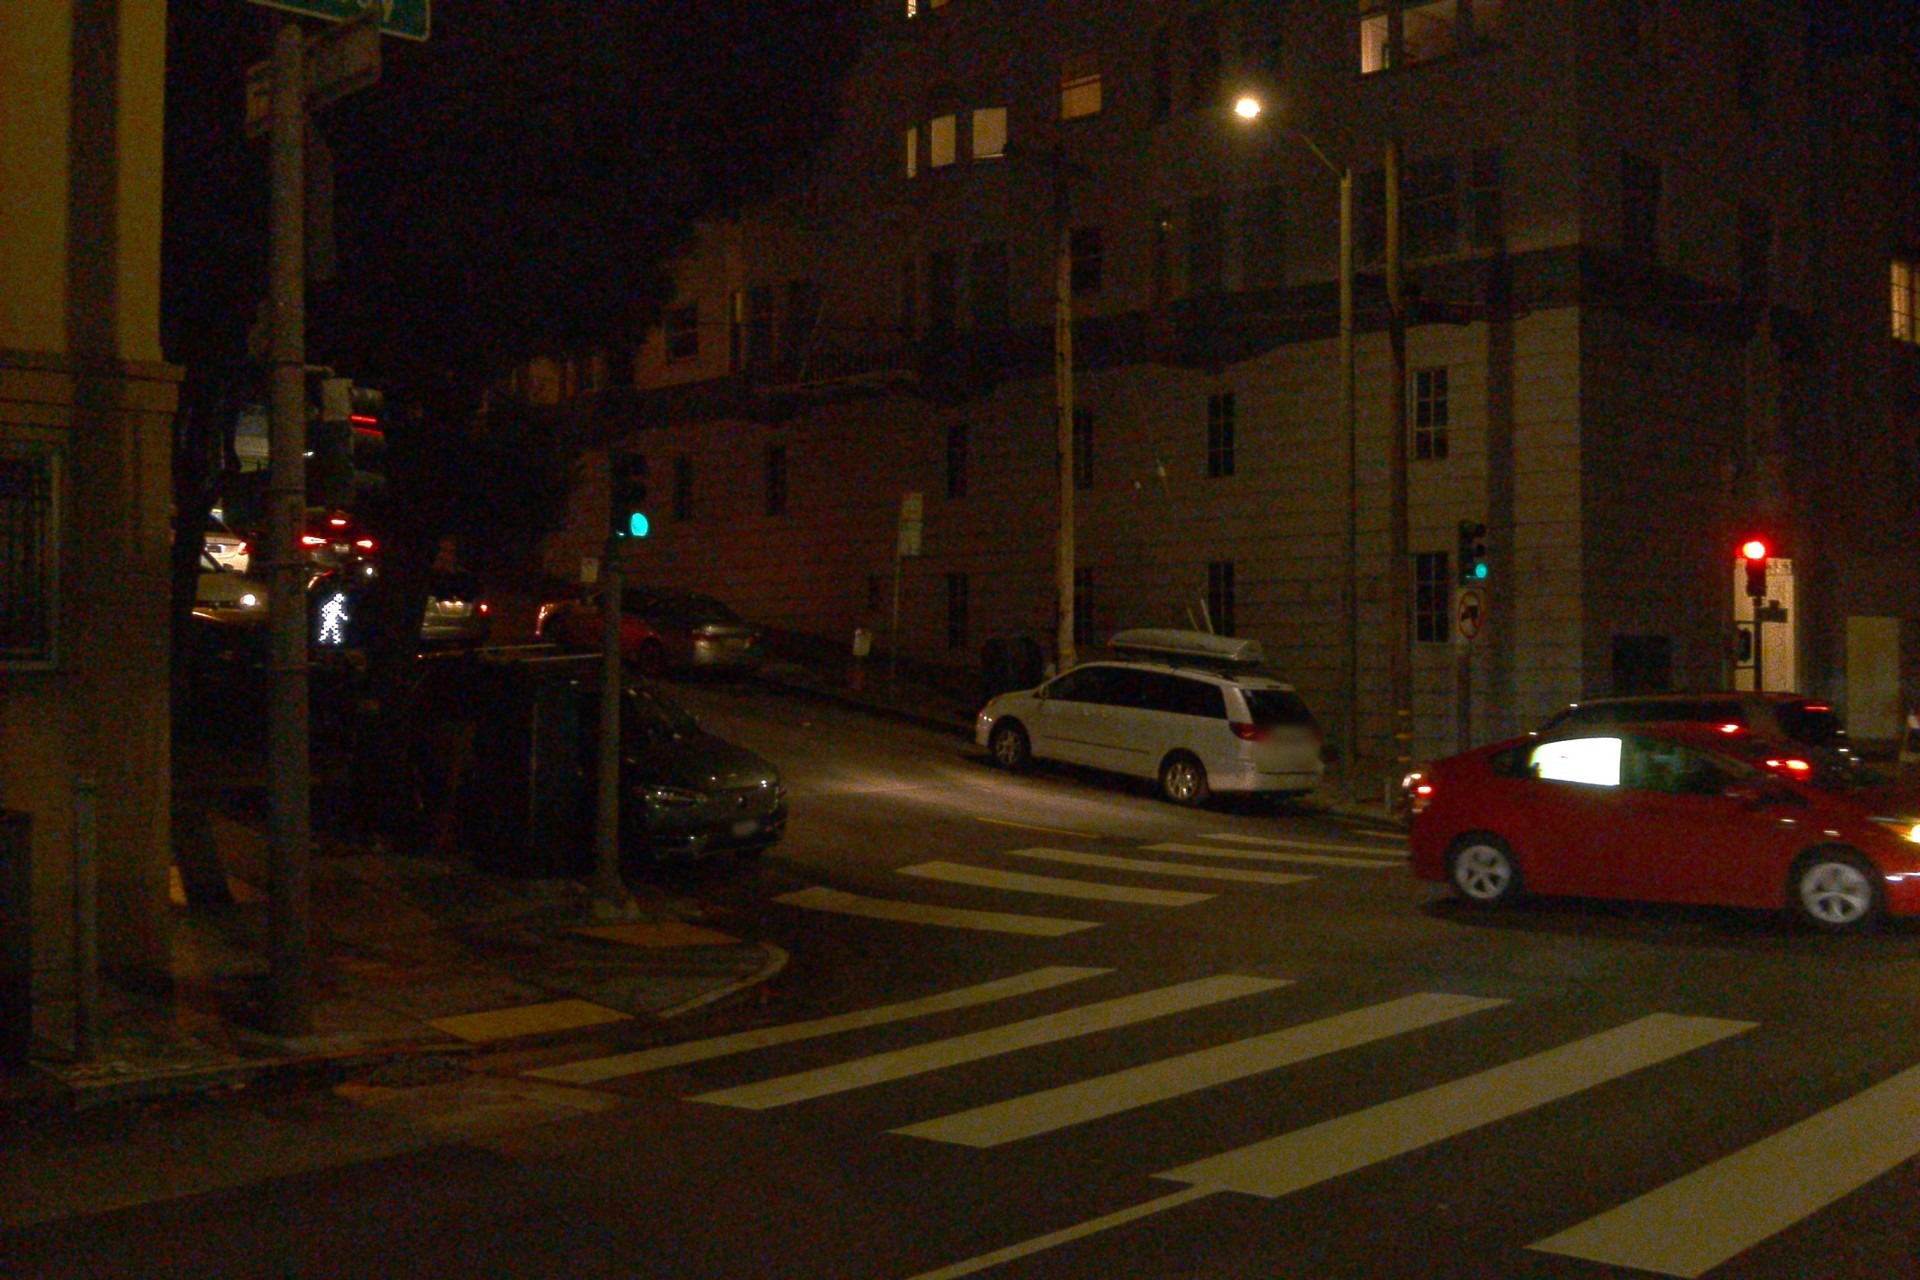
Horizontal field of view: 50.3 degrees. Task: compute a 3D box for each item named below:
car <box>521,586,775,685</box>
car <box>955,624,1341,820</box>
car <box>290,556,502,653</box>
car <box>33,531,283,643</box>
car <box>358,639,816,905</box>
[{"bbox_3d":[-5.475,-0.100,35.589,4.539,1.626,1.925,1,1,42],"label":"car"},{"bbox_3d":[2.475,1.007,27.876,4.904,2.388,2.213,1,1,44],"label":"car"},{"bbox_3d":[-9.728,-0.598,35.154,3.818,1.586,1.850,1,1,45],"label":"car"},{"bbox_3d":[-13.521,-0.858,34.362,2.181,1.748,4.872,0,1,-44],"label":"car"},{"bbox_3d":[-3.851,1.172,20.552,2.195,2.290,4.784,0,1,-44],"label":"car"}]
